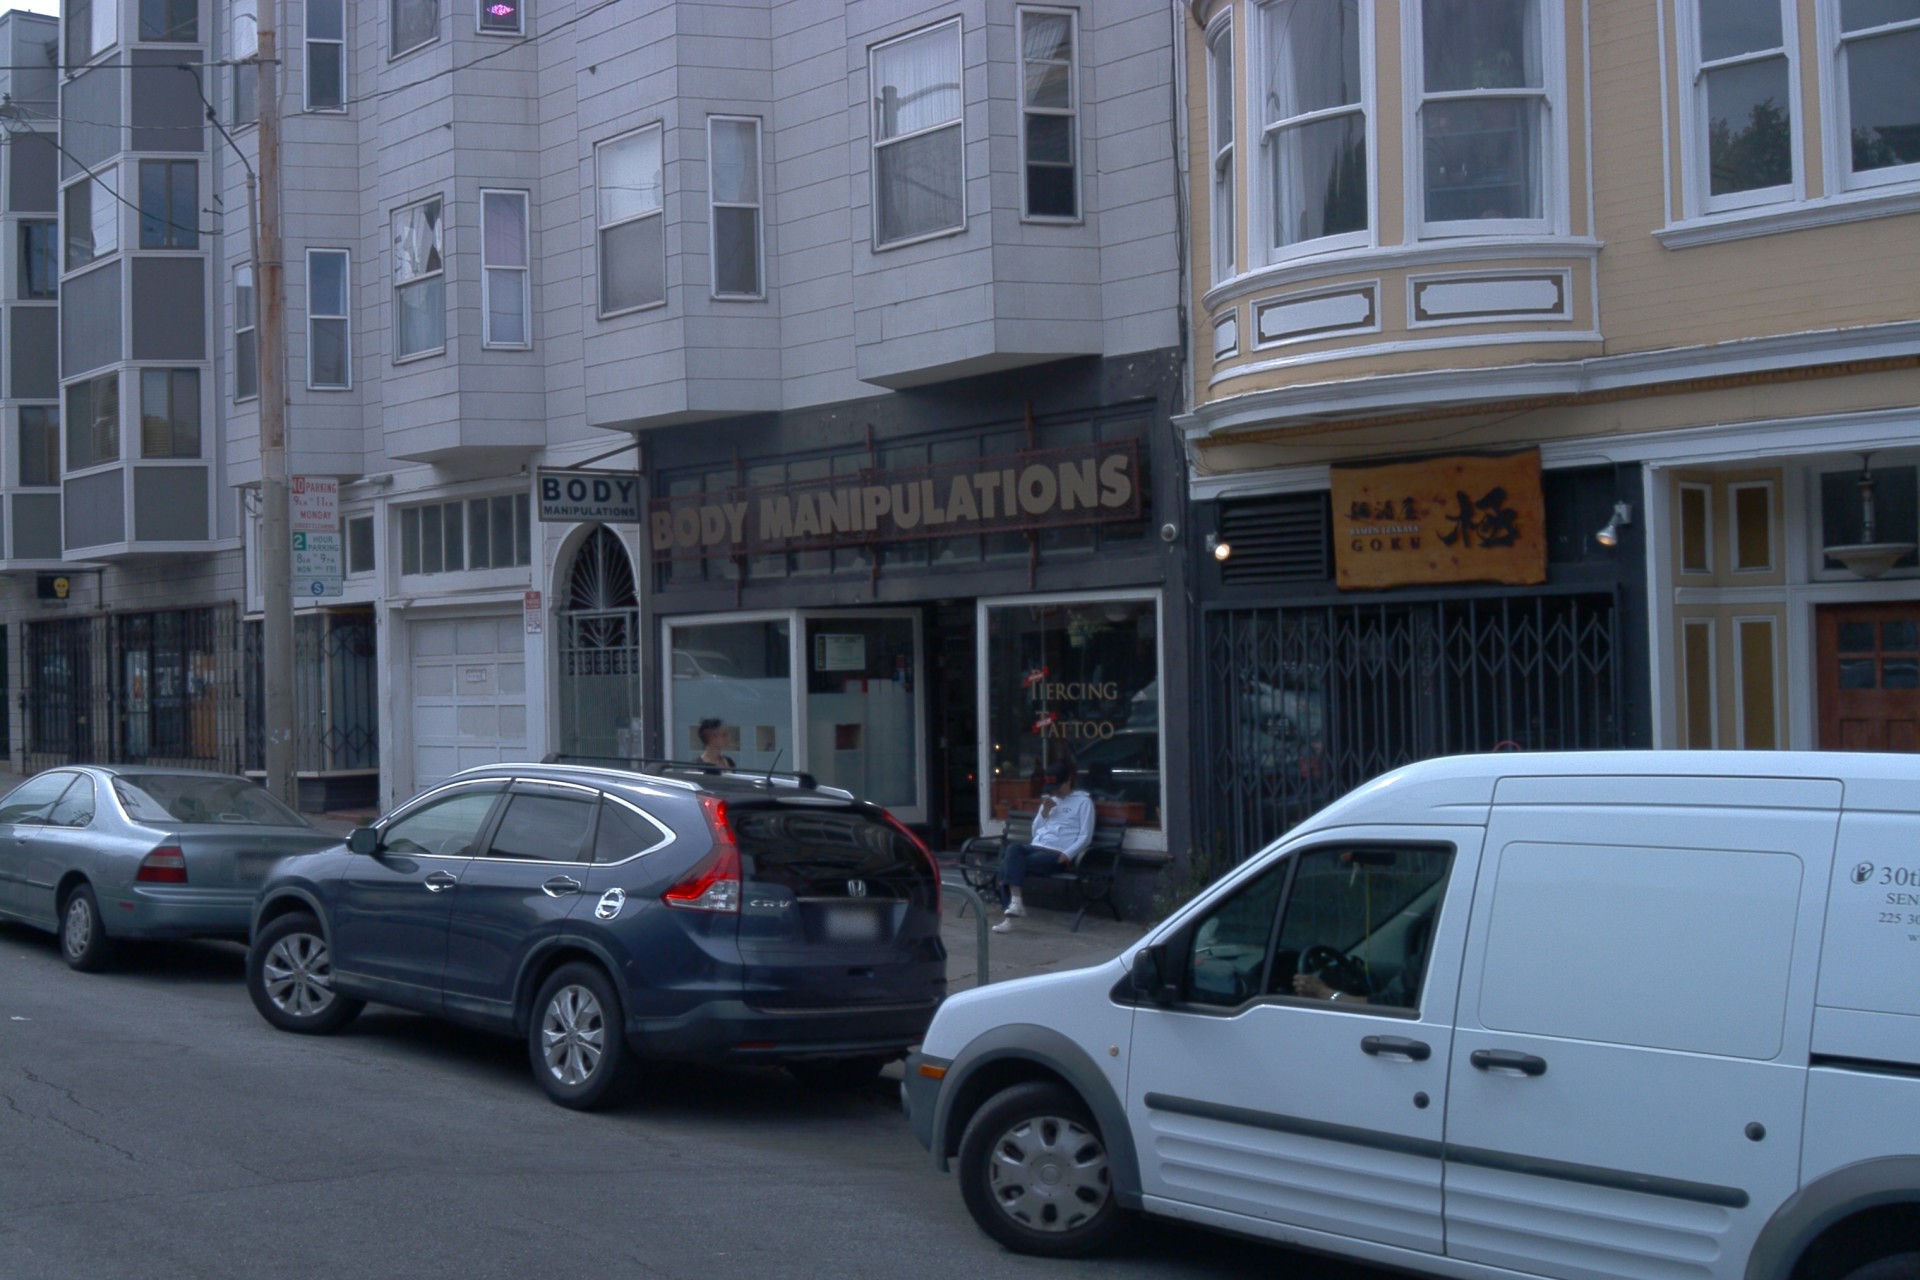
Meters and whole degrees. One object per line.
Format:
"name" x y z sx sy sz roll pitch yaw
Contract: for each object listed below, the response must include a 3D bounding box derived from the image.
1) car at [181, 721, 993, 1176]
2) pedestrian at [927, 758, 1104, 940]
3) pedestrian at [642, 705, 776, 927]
"car" -2.217 1.453 11.429 4.557 1.780 2.124 0 1 43
"pedestrian" 0.432 1.580 15.898 1.076 1.256 0.853 -1 1 -44
"pedestrian" -2.000 1.371 16.428 0.687 1.660 0.843 -1 1 -44
